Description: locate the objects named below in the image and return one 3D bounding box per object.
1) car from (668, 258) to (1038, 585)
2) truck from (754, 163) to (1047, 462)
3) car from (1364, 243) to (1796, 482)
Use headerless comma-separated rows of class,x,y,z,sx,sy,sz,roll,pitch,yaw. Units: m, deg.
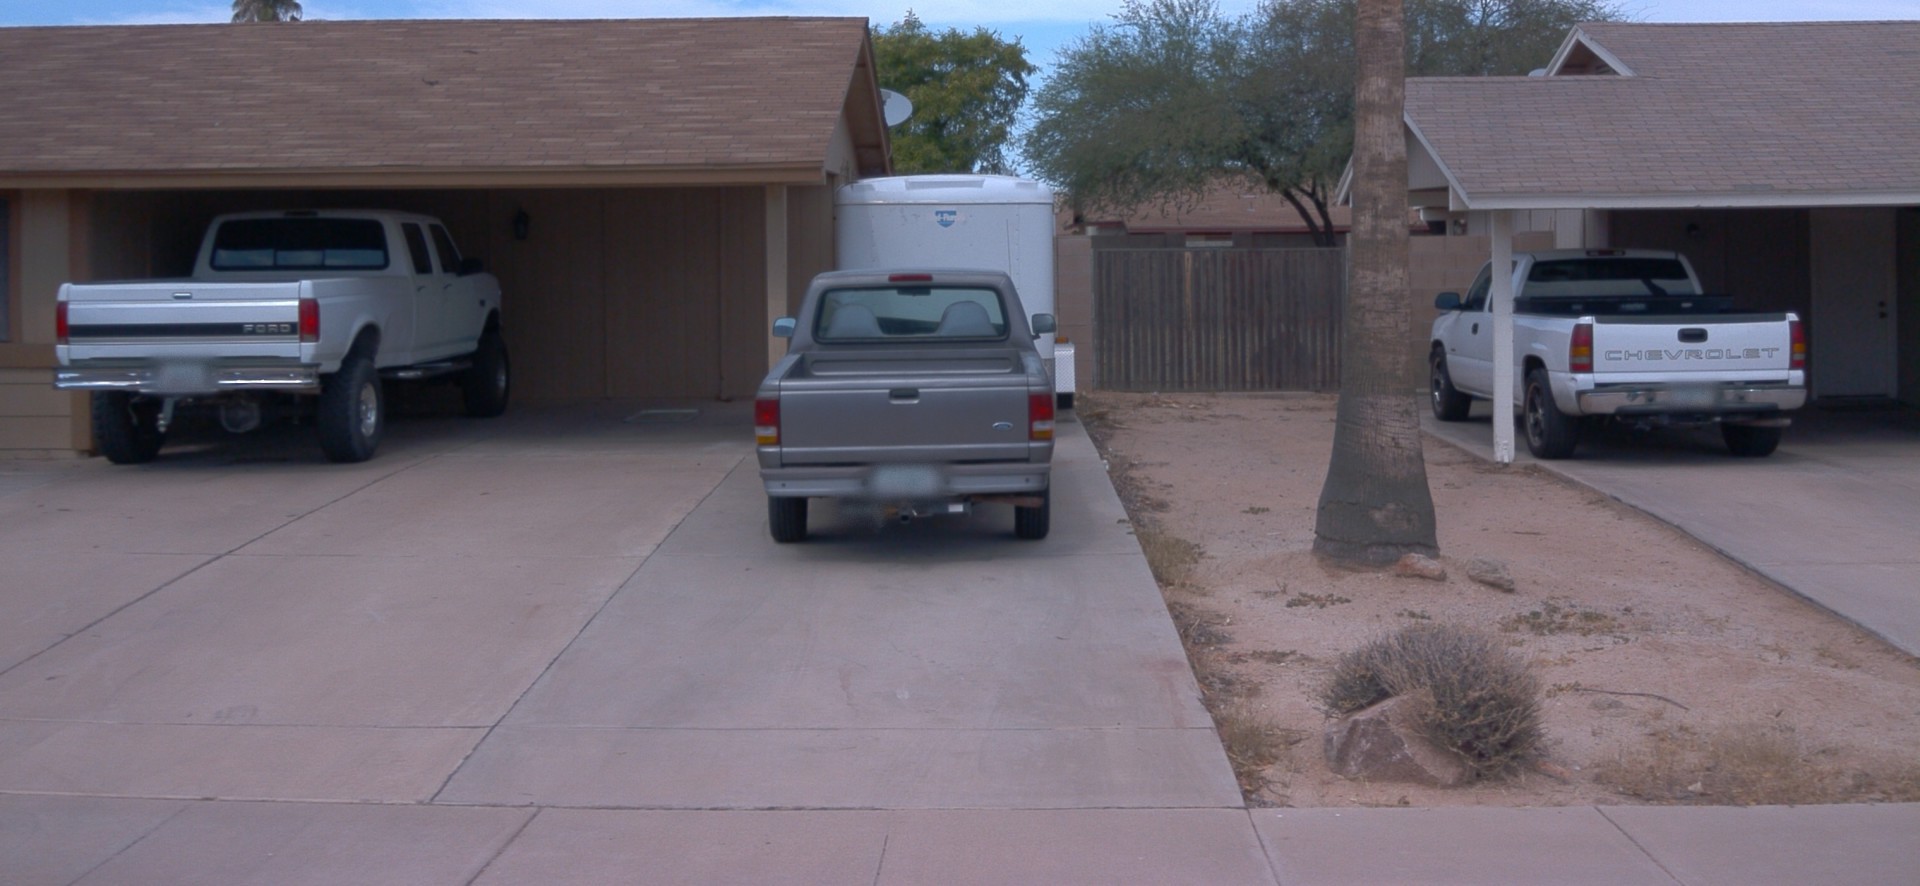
car,-0.584,-0.337,14.171,2.074,1.752,4.906,0,5,0
truck,-0.446,-1.294,19.153,2.356,2.391,4.627,0,5,1
car,5.531,-0.916,19.565,2.453,1.852,5.743,0,5,1
